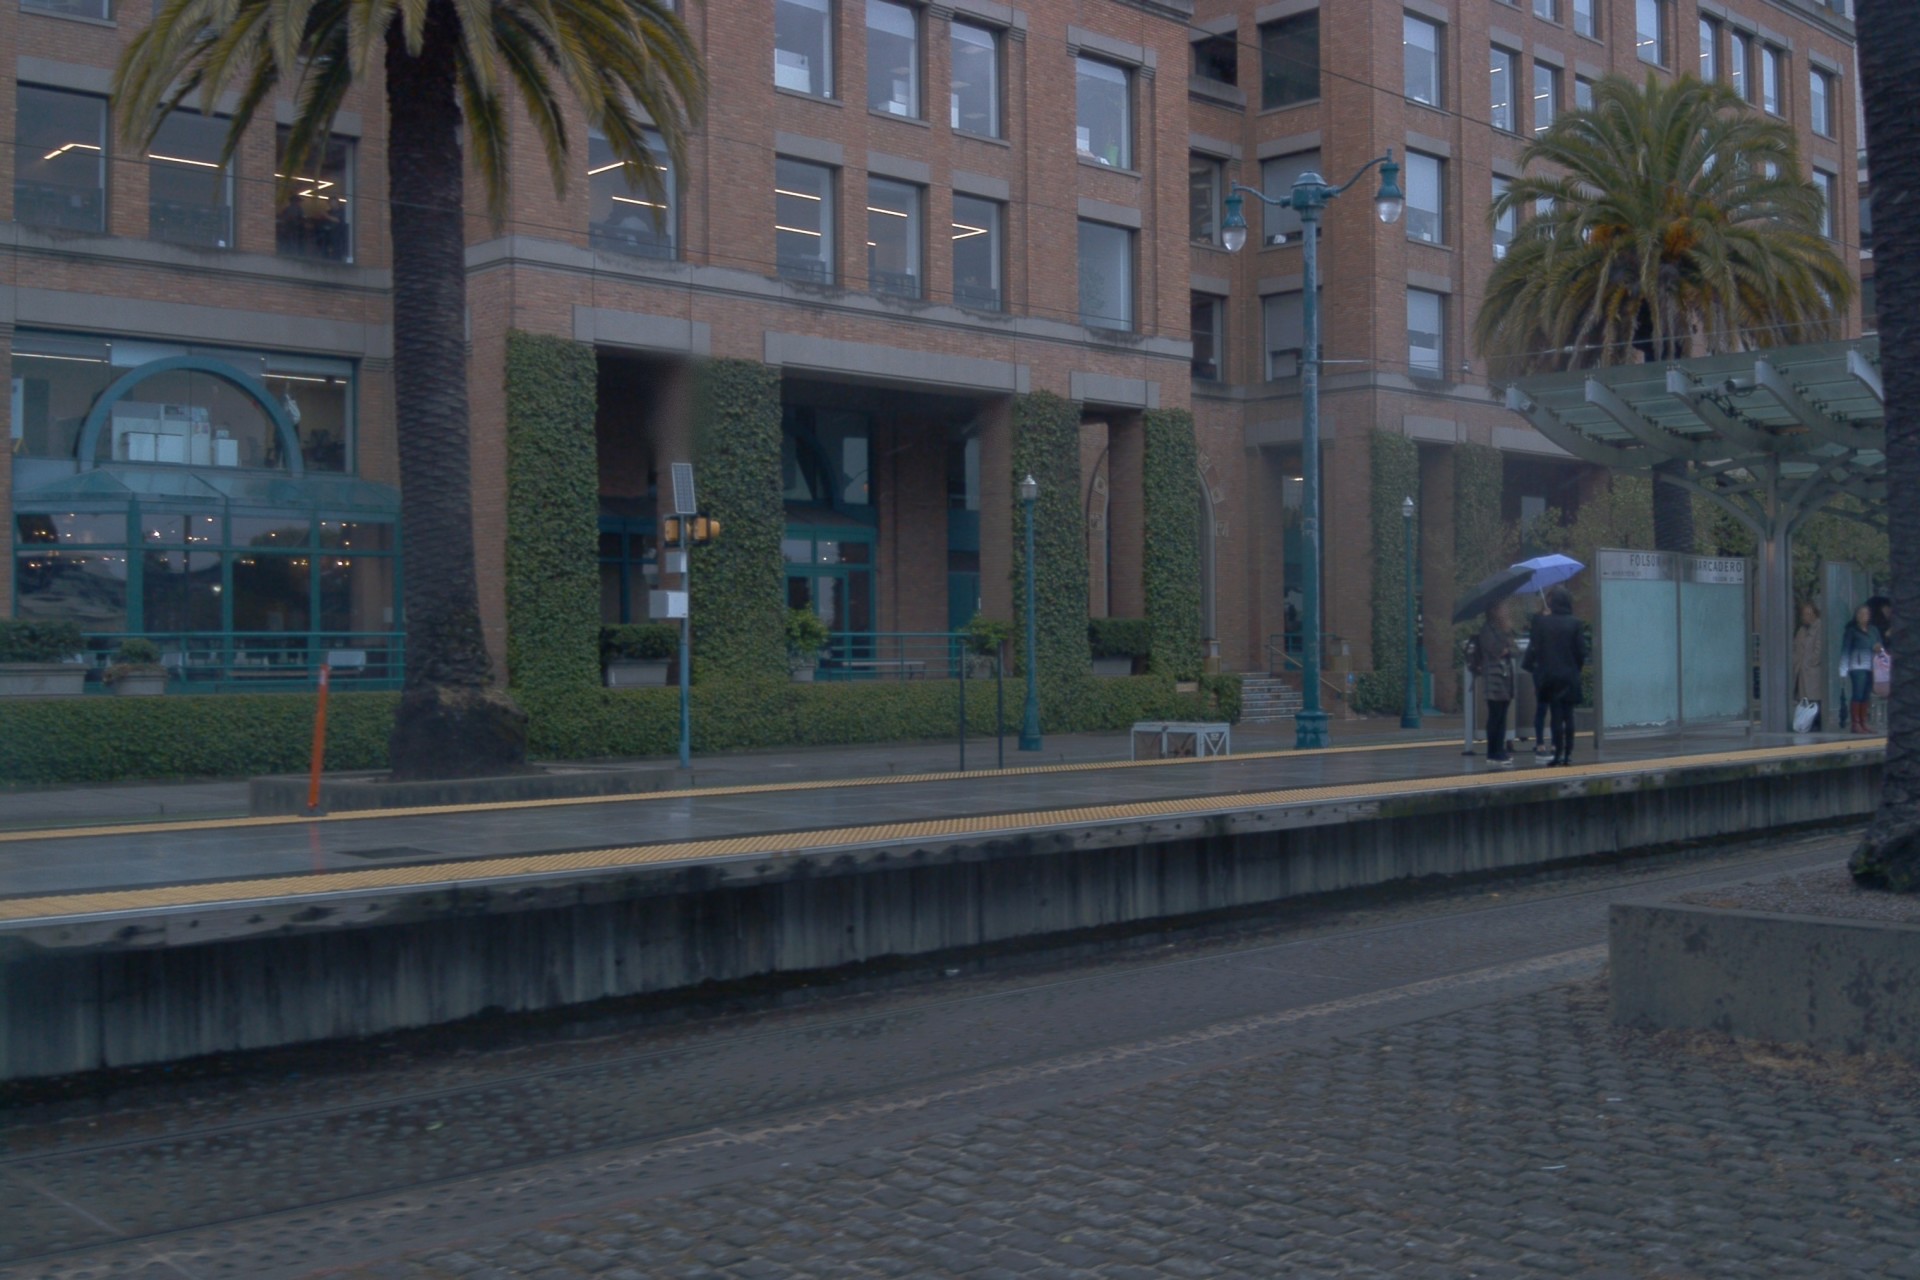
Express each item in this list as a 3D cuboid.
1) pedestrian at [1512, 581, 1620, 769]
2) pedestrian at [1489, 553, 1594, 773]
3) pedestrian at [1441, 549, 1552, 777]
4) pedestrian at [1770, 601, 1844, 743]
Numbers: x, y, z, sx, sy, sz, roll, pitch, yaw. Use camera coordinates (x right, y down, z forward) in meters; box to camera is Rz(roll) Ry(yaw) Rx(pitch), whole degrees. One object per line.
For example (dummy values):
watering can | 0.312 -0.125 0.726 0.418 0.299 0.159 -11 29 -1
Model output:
pedestrian | 5.565 0.319 19.123 0.764 1.690 0.770 0 0 -2
pedestrian | 5.614 0.215 20.039 0.898 2.060 0.994 0 0 19
pedestrian | 4.975 0.207 19.349 0.921 2.050 1.112 0 0 10
pedestrian | 10.567 0.395 25.946 0.717 1.740 0.720 0 0 34
